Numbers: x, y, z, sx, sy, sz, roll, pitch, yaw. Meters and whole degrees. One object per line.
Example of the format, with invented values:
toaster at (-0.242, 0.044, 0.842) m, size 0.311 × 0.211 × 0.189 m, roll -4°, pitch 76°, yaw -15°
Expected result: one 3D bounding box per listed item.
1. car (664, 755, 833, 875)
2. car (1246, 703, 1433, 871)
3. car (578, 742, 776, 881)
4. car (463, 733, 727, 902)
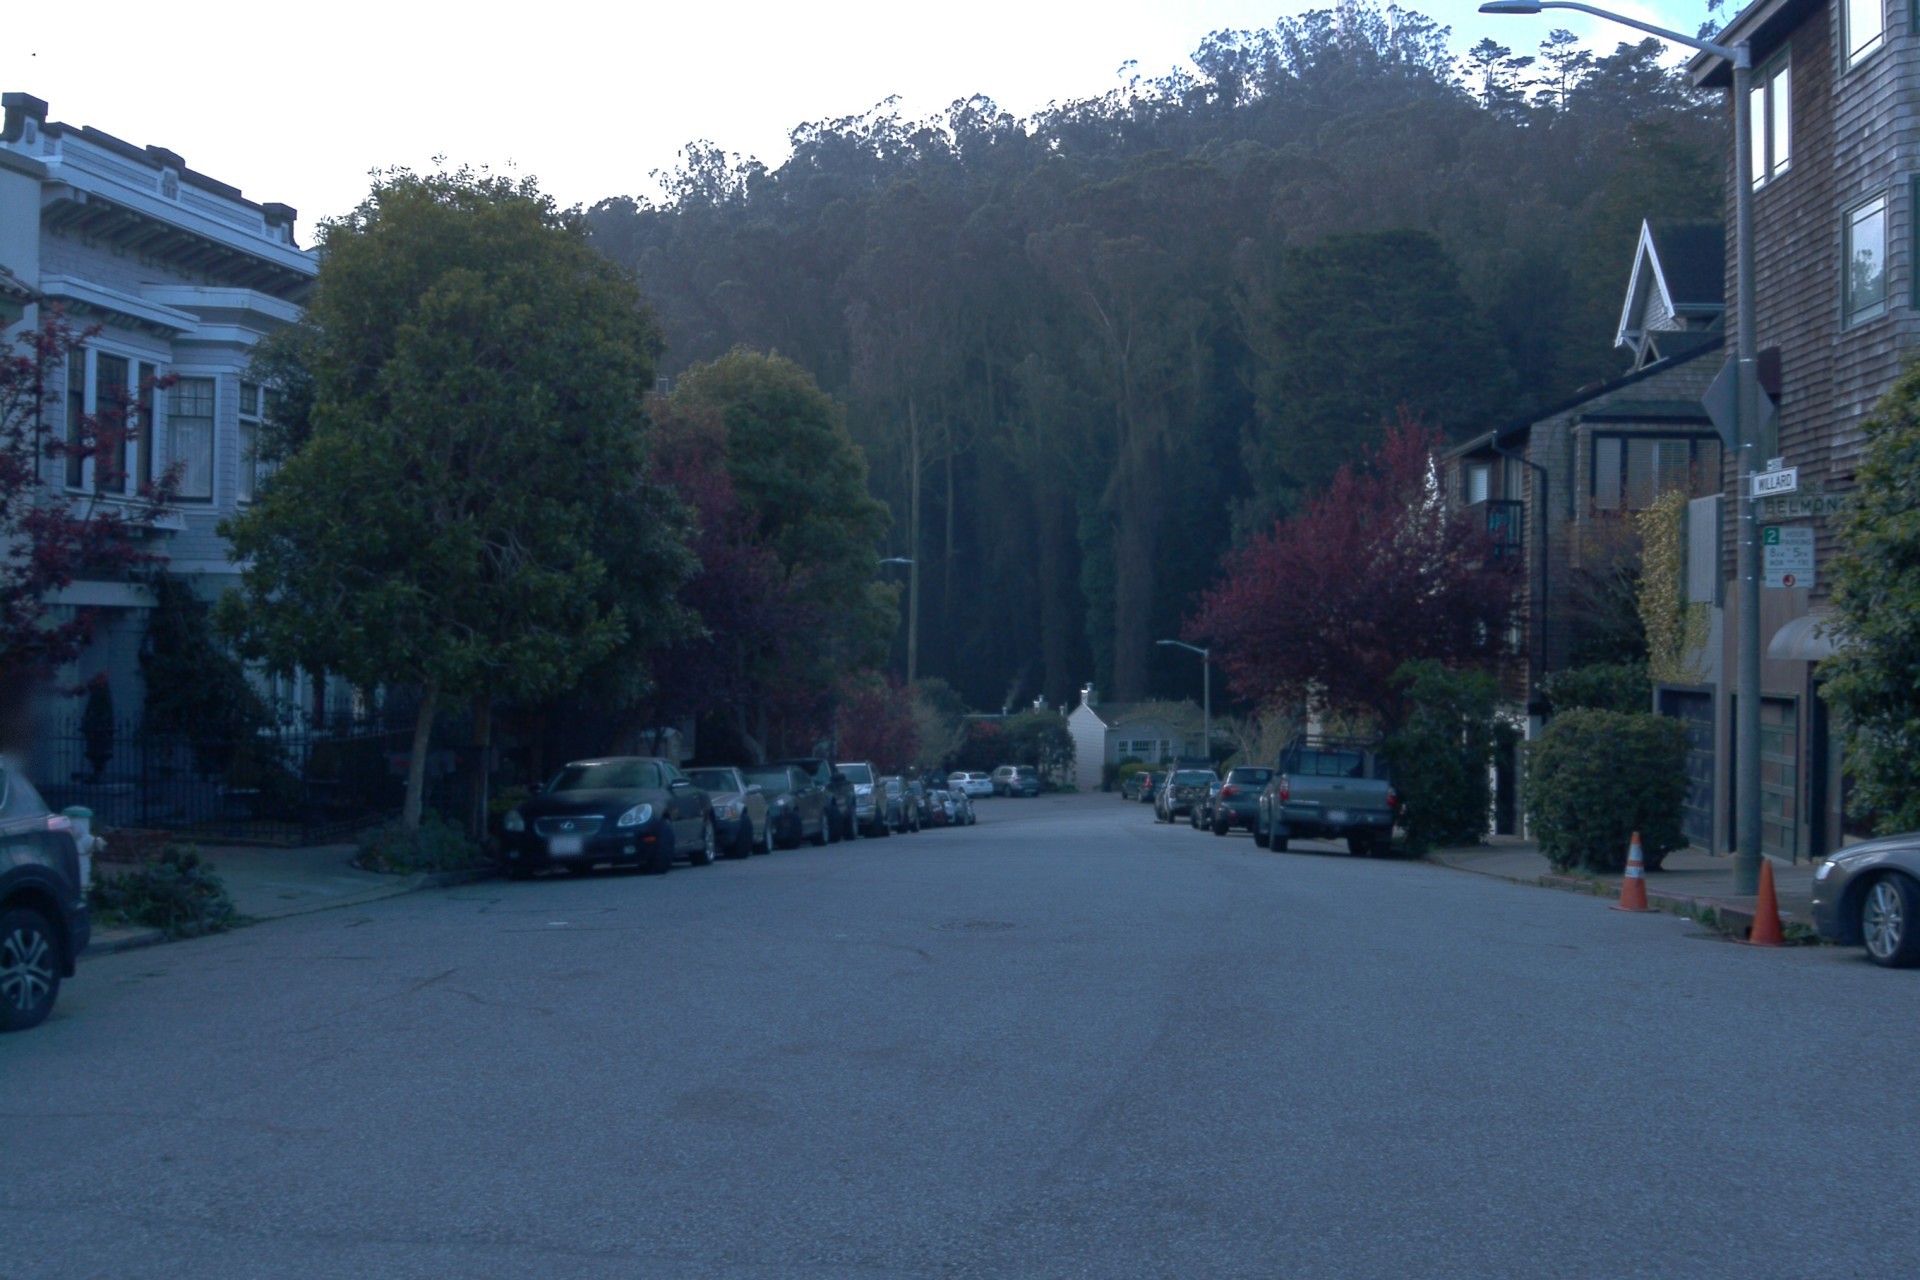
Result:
car at (-3.484, 2.882, 34.619) m, size 1.863 × 1.560 × 4.684 m, roll 0°, pitch 1°, yaw 6°
car at (6.294, 2.372, 34.702) m, size 2.537 × 2.360 × 5.551 m, roll 0°, pitch 1°, yaw 5°
car at (-3.882, 2.335, 28.873) m, size 2.019 × 1.524 × 4.382 m, roll 0°, pitch 1°, yaw 2°
car at (-4.088, 1.962, 23.747) m, size 2.000 × 1.492 × 4.436 m, roll 0°, pitch 1°, yaw 4°
